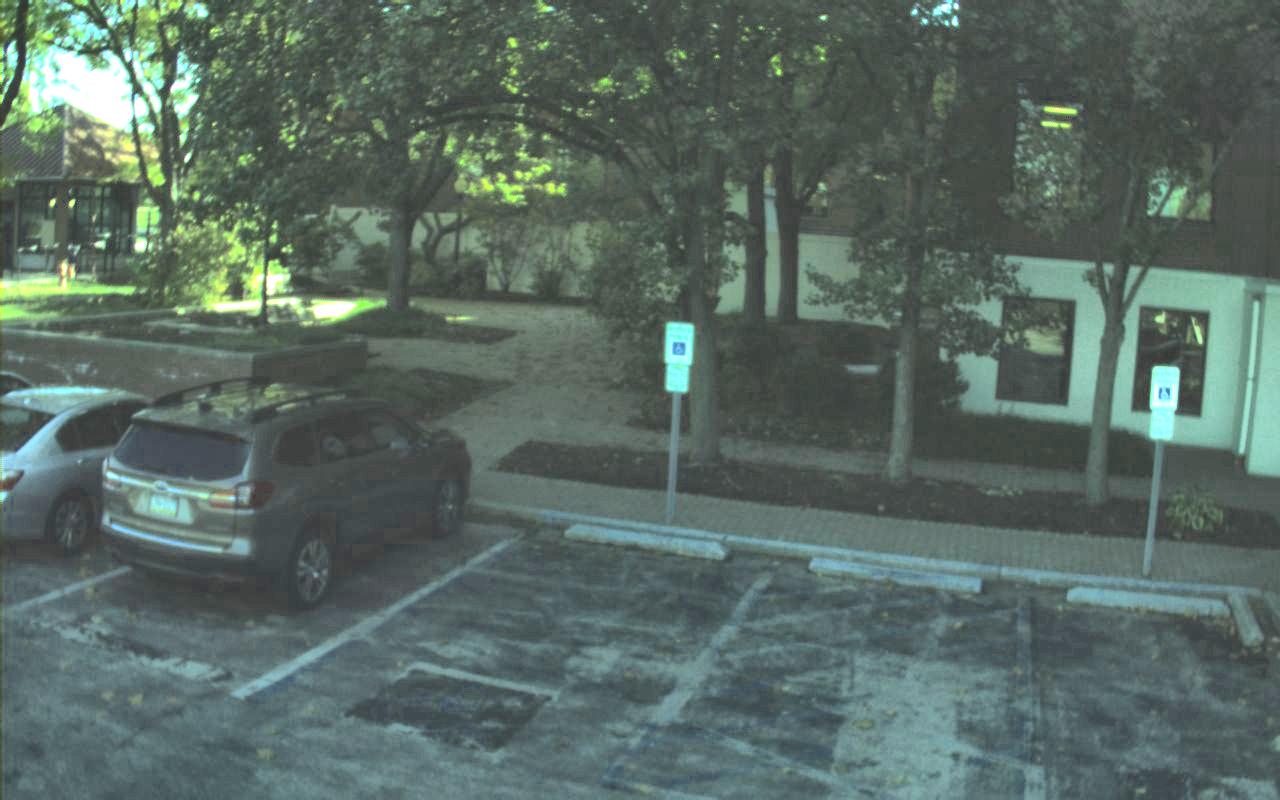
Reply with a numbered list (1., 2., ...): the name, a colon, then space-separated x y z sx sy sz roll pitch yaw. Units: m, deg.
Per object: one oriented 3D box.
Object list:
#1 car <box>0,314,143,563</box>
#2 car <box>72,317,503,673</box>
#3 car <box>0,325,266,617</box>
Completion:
1. car: -8.187 0.345 13.479 1.949 1.617 4.465 4 17 18
2. car: -3.166 0.639 11.822 2.017 1.742 4.785 3 17 15
3. car: -5.965 0.569 11.928 1.924 1.547 4.391 5 18 21
